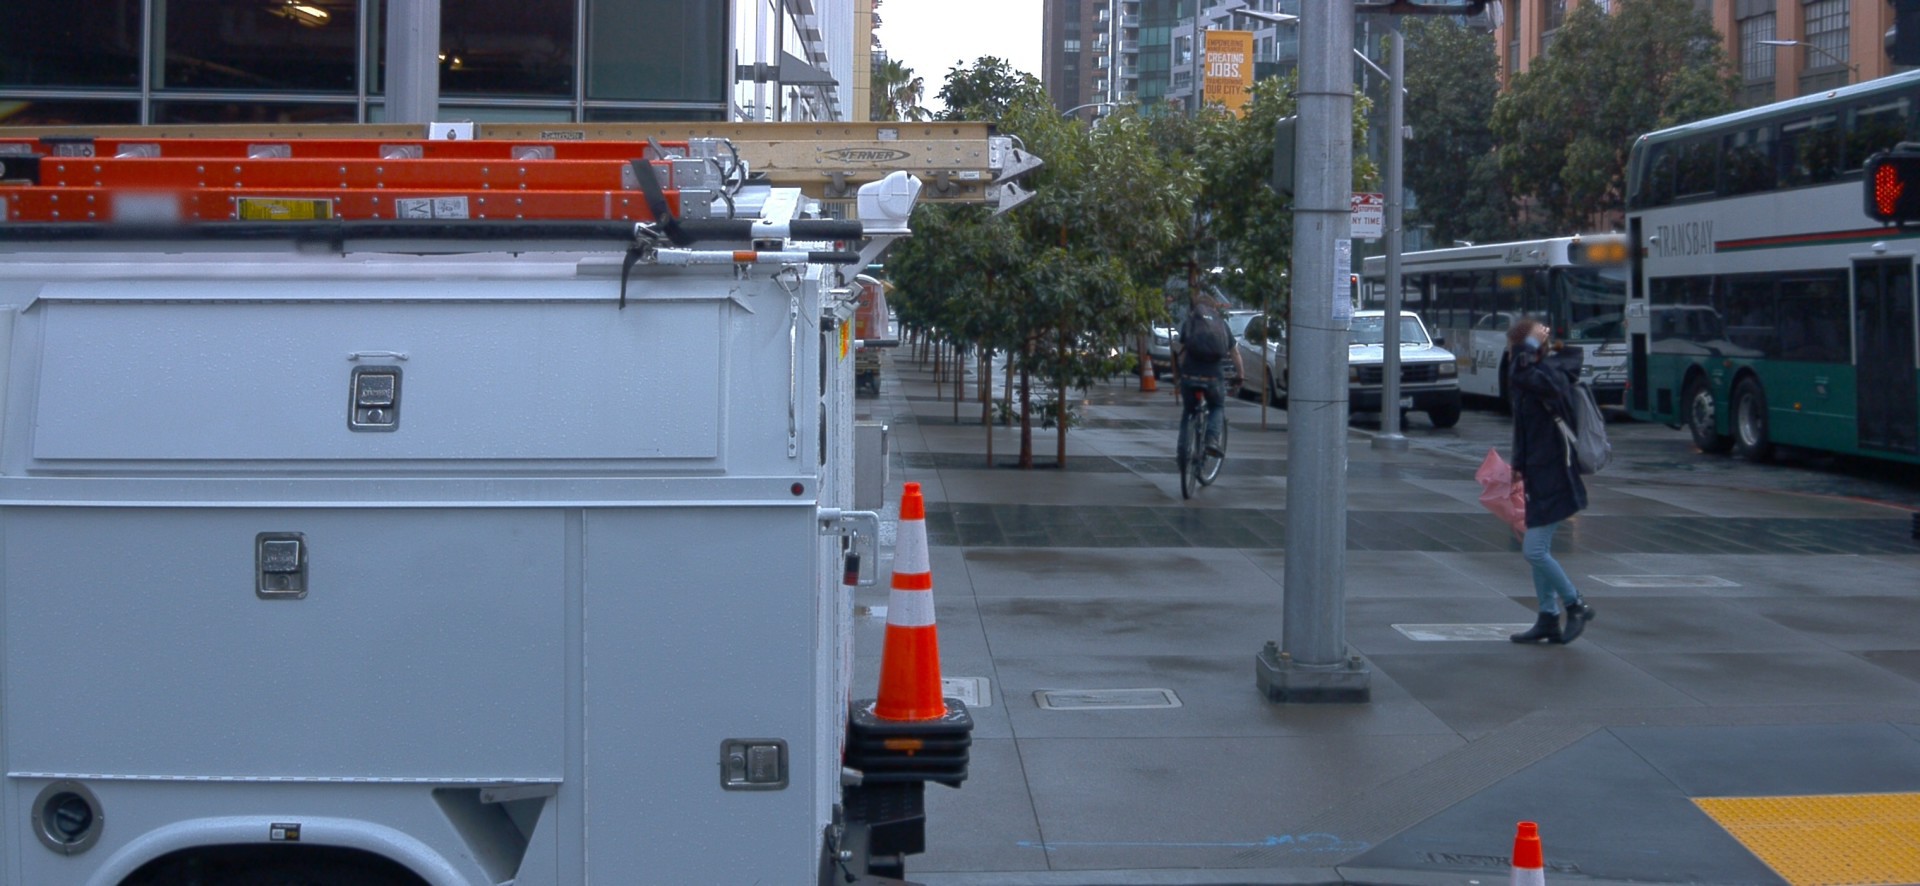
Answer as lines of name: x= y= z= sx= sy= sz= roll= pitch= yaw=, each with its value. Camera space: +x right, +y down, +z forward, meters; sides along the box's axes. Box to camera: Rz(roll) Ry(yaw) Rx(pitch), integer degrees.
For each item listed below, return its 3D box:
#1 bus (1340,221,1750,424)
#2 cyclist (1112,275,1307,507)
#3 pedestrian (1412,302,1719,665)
bus: x=9.873 y=-2.441 z=36.848 sx=3.258 sy=2.996 sz=12.707 roll=0 pitch=6 yaw=-2
cyclist: x=2.103 y=-0.493 z=17.018 sx=1.209 sy=1.741 sz=2.032 roll=1 pitch=4 yaw=18
pedestrian: x=2.998 y=0.154 z=10.303 sx=1.174 sy=1.685 sz=1.085 roll=0 pitch=2 yaw=-3
